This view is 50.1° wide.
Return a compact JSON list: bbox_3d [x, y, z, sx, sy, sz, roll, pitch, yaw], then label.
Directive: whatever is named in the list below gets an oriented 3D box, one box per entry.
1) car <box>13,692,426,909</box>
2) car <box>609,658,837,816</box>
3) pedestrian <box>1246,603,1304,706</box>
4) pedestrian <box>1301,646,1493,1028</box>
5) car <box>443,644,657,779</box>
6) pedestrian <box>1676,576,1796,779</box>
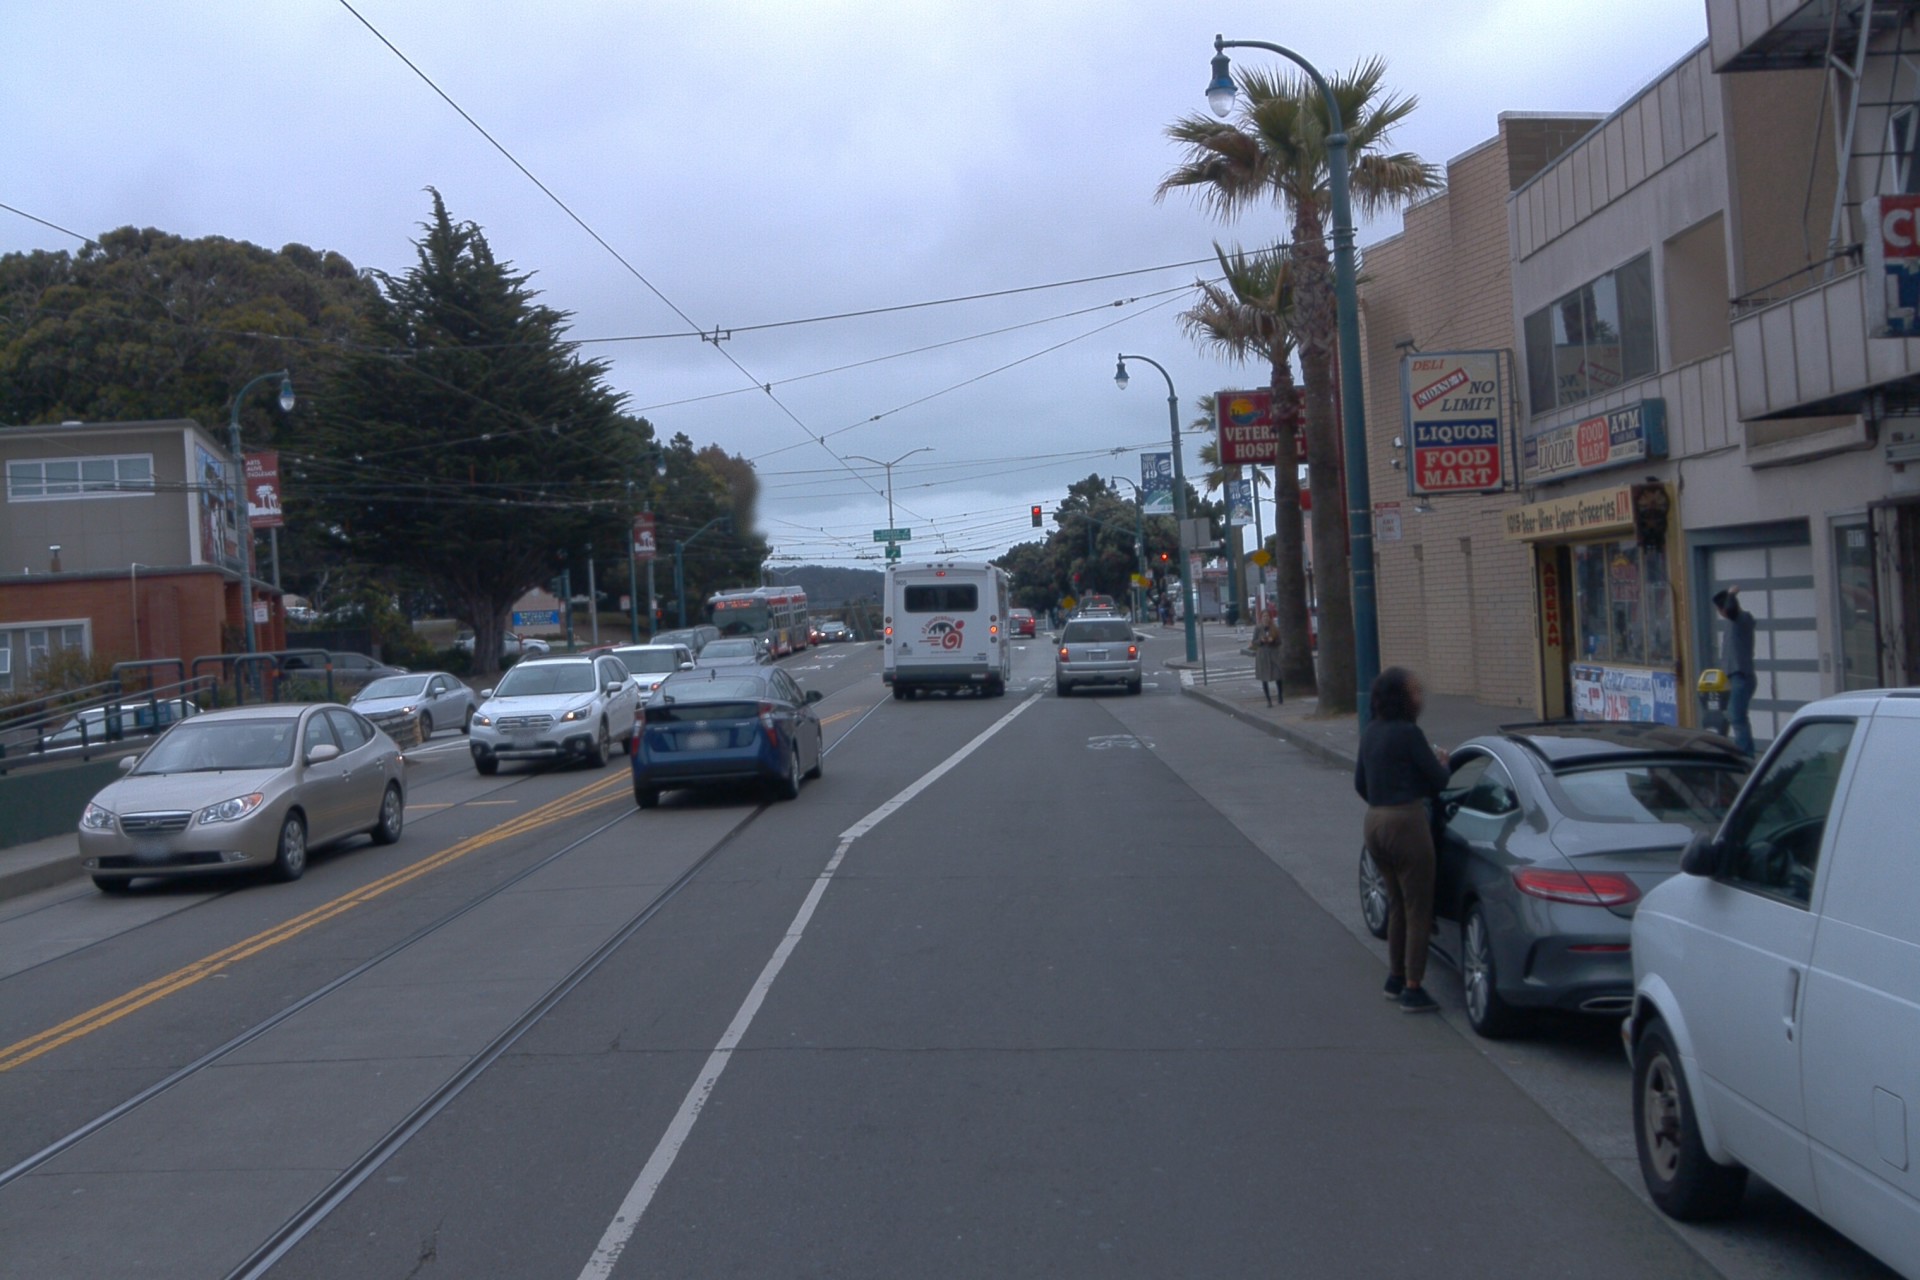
[{"bbox_3d":[-6.468,1.335,18.575,2.031,1.540,4.443,0,1,2],"label":"car"},{"bbox_3d":[-2.595,1.028,23.512,1.972,1.540,4.259,0,1,2],"label":"car"},{"bbox_3d":[5.300,0.238,34.607,0.844,1.710,0.722,0,1,0],"label":"pedestrian"},{"bbox_3d":[2.294,0.973,10.714,0.854,1.860,0.975,0,1,20],"label":"pedestrian"},{"bbox_3d":[-5.929,0.979,30.341,2.144,1.740,4.817,0,1,1],"label":"car"},{"bbox_3d":[7.118,0.328,18.889,0.806,1.820,0.856,0,1,4],"label":"pedestrian"}]
